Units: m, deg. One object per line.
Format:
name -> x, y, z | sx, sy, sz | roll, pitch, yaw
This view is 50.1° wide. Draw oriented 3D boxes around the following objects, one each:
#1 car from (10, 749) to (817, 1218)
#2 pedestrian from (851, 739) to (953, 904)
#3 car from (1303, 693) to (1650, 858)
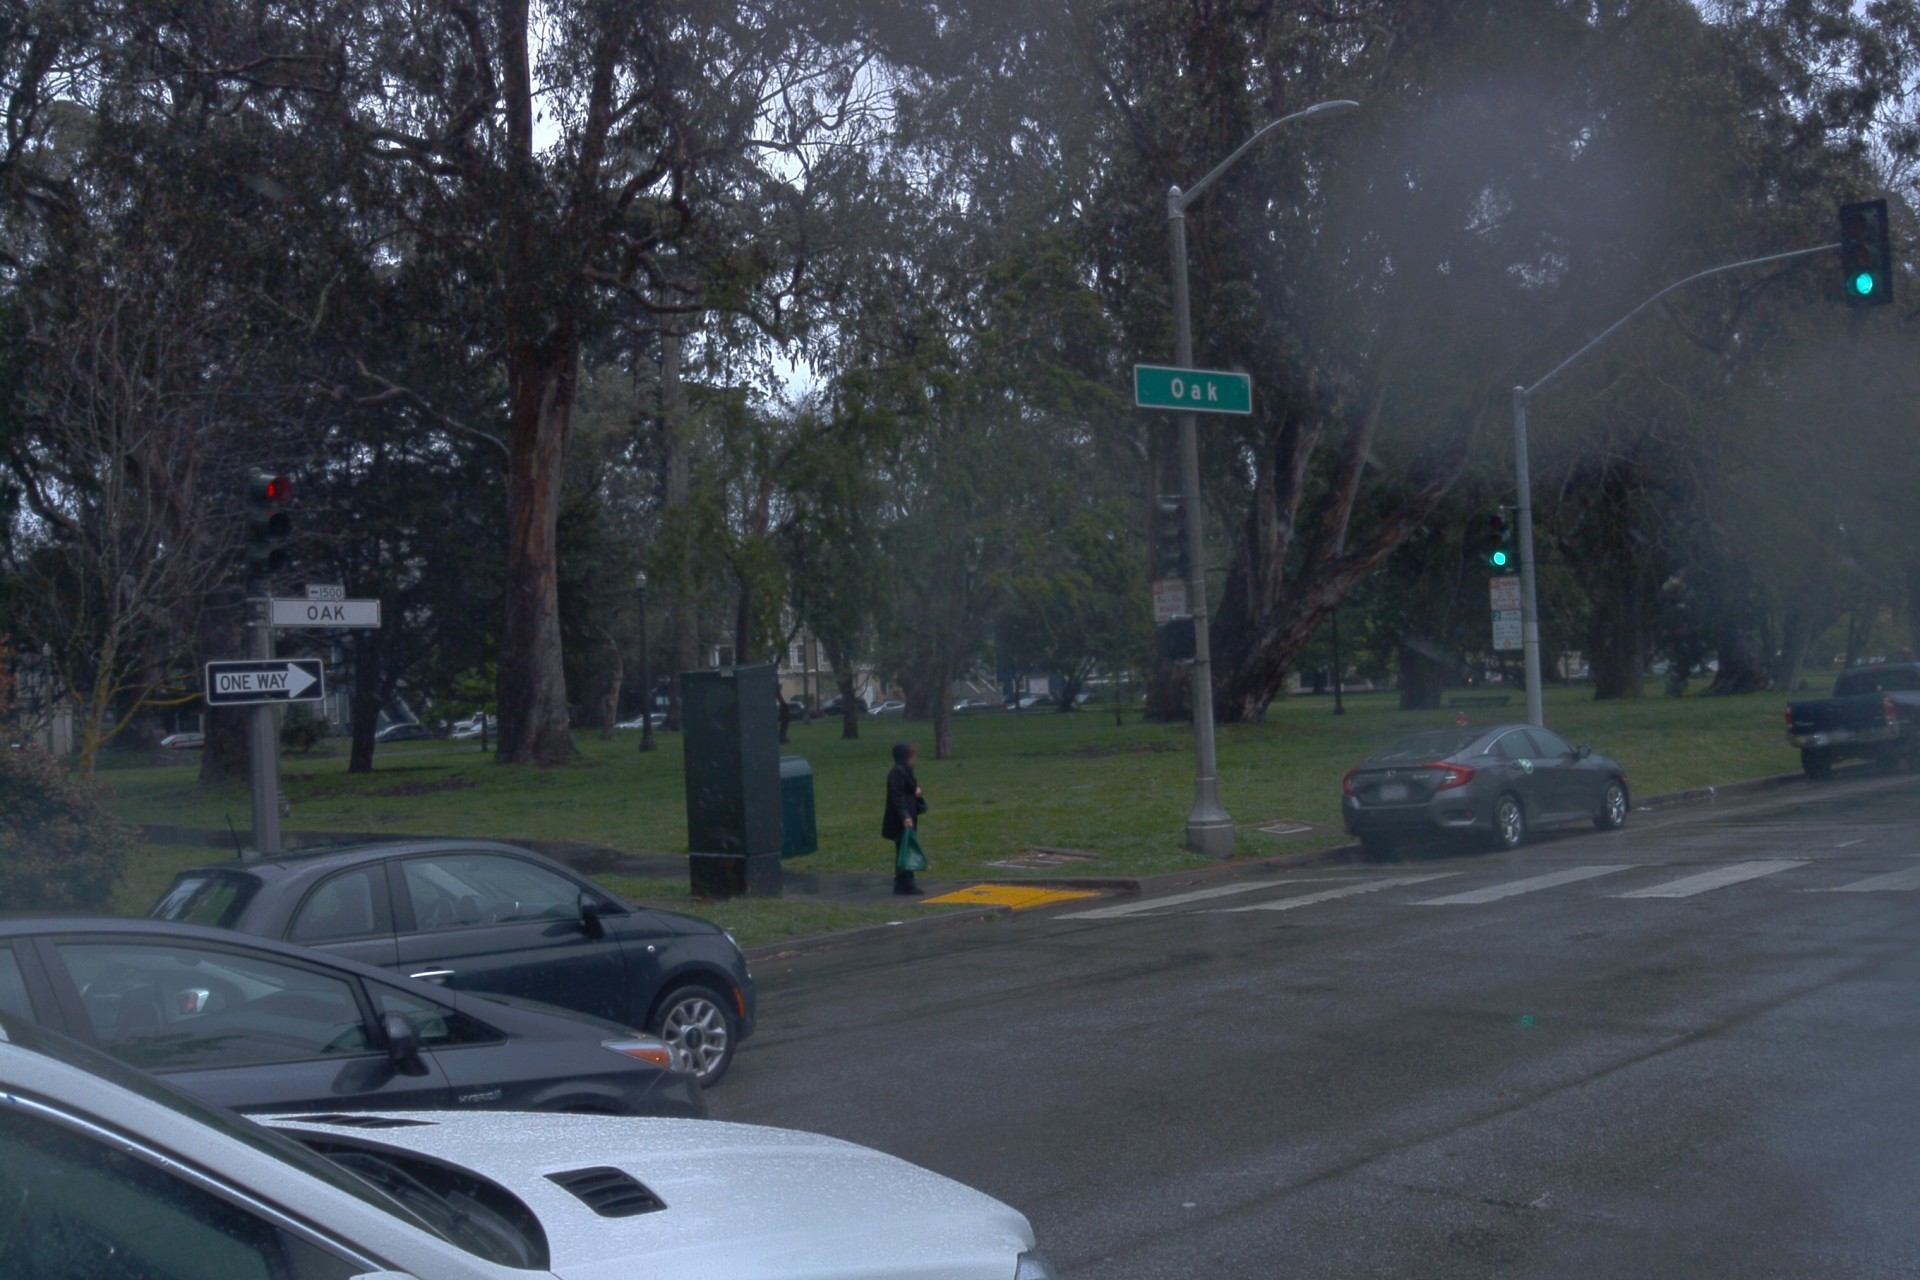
car -> -2.691, 1.554, 10.552 | 3.581, 1.715, 1.794 | -1, 2, -43
pedestrian -> -0.581, 1.813, 20.739 | 0.723, 1.560, 0.834 | 1, 1, 25
car -> 6.146, 1.496, 24.081 | 2.031, 1.540, 4.554 | 1, 2, 42
